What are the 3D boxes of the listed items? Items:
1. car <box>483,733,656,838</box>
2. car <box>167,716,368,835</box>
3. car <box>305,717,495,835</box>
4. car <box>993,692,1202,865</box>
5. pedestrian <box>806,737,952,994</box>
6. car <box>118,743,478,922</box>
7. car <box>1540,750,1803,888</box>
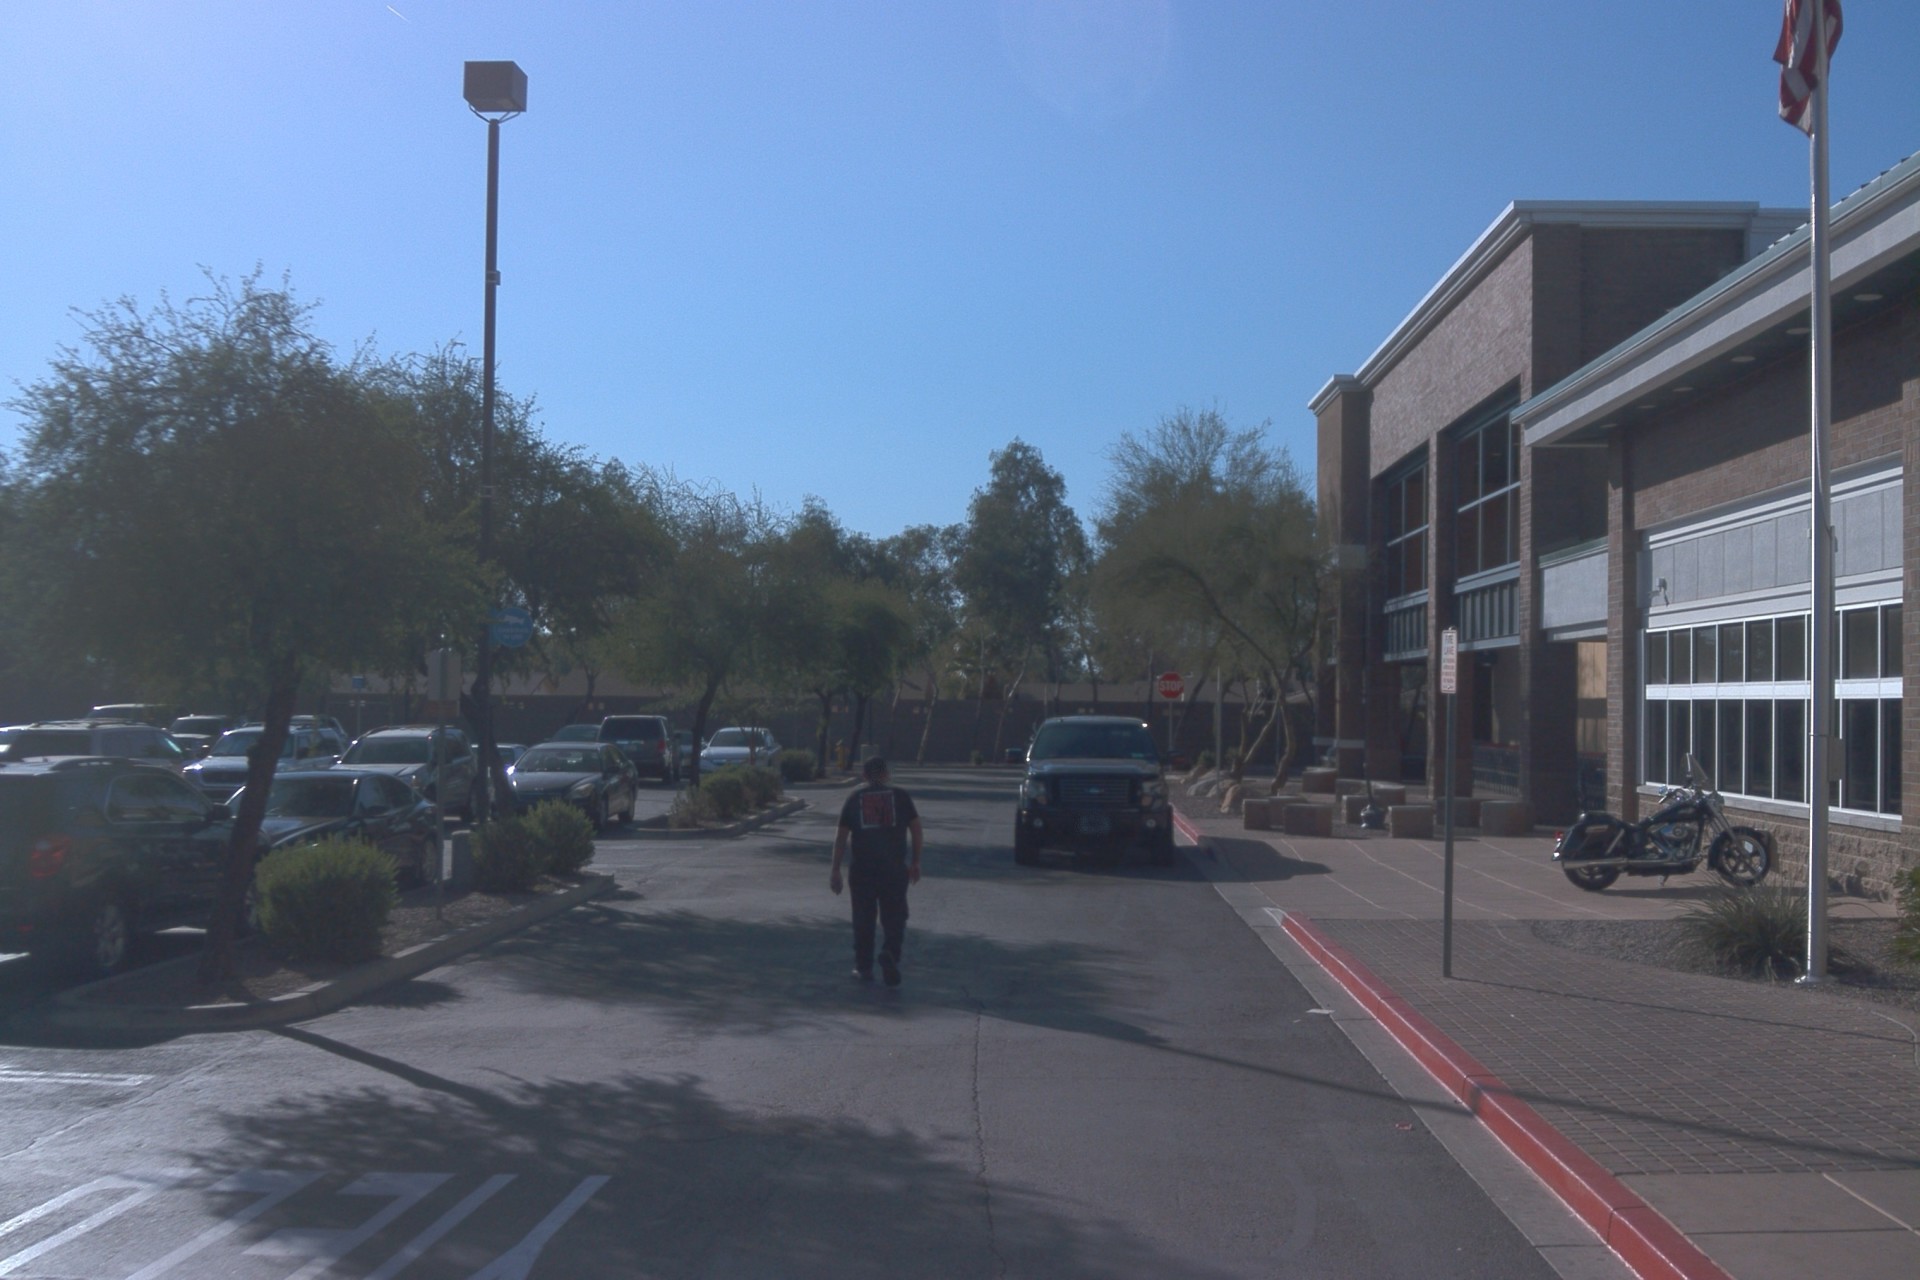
[{"bbox_3d":[-6.614,2.441,35.672,1.931,1.560,4.778,-1,-1,2],"label":"car"},{"bbox_3d":[-11.955,2.293,36.142,1.922,1.860,4.555,-1,-1,1],"label":"car"},{"bbox_3d":[-9.543,2.273,35.725,1.886,1.820,4.571,-1,-1,2],"label":"car"},{"bbox_3d":[1.877,1.856,29.459,2.655,2.190,5.664,-1,-1,2],"label":"car"},{"bbox_3d":[-0.619,1.703,16.040,1.076,1.870,1.183,0,-1,-1],"label":"pedestrian"},{"bbox_3d":[-7.168,2.041,23.124,2.211,1.640,5.024,-1,-1,3],"label":"car"},{"bbox_3d":[7.701,1.935,22.568,2.509,1.430,1.043,-1,-1,6],"label":"car"}]
